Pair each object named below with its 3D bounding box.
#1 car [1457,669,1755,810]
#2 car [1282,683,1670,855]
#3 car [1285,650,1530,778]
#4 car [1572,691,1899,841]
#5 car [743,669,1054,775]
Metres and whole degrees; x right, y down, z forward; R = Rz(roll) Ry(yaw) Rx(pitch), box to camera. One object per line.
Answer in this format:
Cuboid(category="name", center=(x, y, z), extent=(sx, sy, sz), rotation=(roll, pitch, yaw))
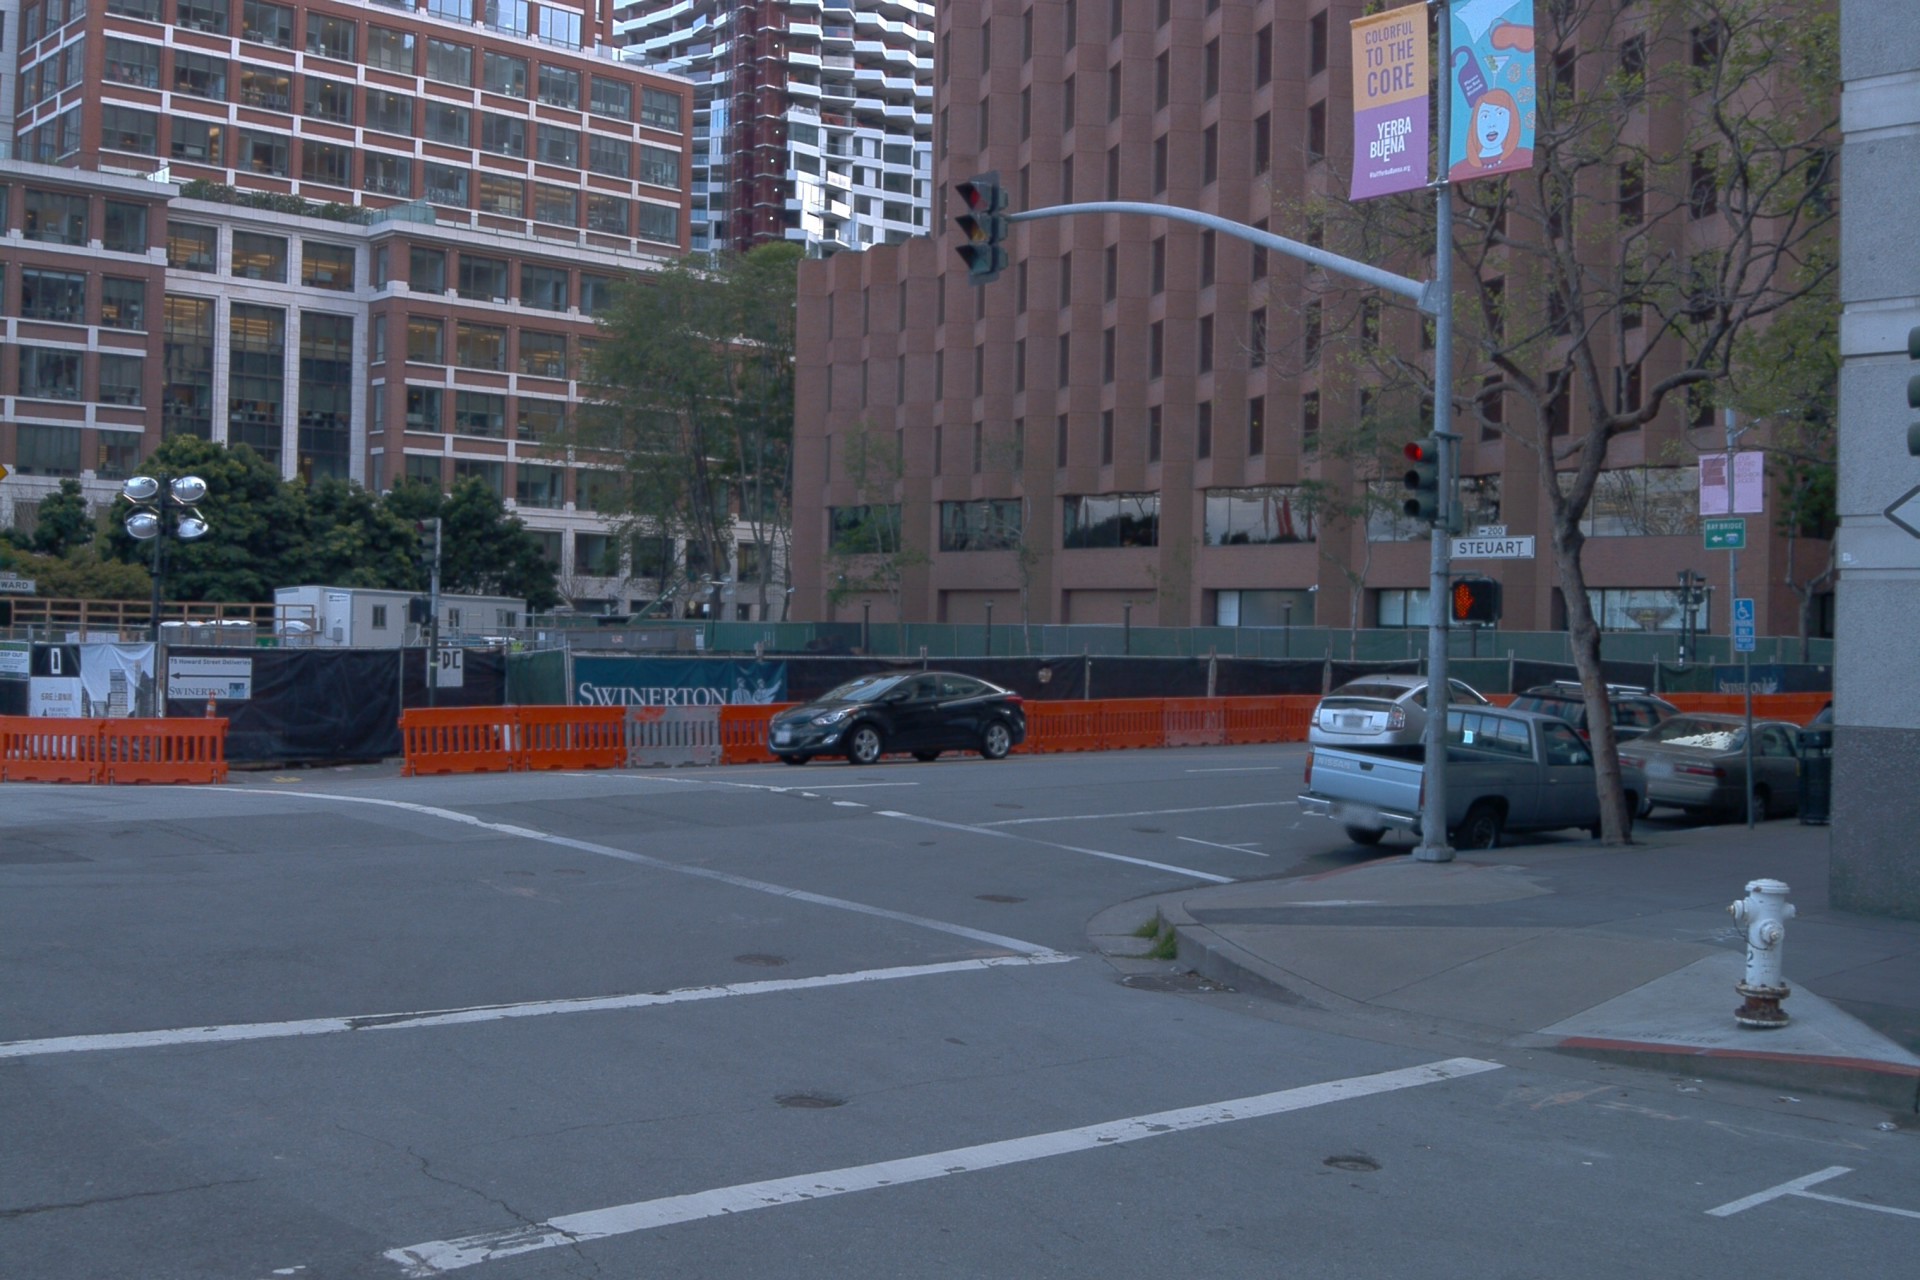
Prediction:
Cuboid(category="car", center=(9.103, 1.322, 28.687), extent=(4.208, 1.760, 2.035), rotation=(0, 0, -40))
Cuboid(category="car", center=(5.760, 1.322, 22.508), extent=(4.672, 1.610, 1.863), rotation=(0, 0, -42))
Cuboid(category="car", center=(7.049, 1.075, 31.894), extent=(2.019, 1.820, 4.420), rotation=(1, 0, 38))
Cuboid(category="car", center=(10.144, 1.553, 26.590), extent=(4.581, 1.660, 2.108), rotation=(0, 0, -42))
Cuboid(category="car", center=(-0.869, 1.200, 31.339), extent=(4.607, 1.430, 1.996), rotation=(0, 0, -44))
